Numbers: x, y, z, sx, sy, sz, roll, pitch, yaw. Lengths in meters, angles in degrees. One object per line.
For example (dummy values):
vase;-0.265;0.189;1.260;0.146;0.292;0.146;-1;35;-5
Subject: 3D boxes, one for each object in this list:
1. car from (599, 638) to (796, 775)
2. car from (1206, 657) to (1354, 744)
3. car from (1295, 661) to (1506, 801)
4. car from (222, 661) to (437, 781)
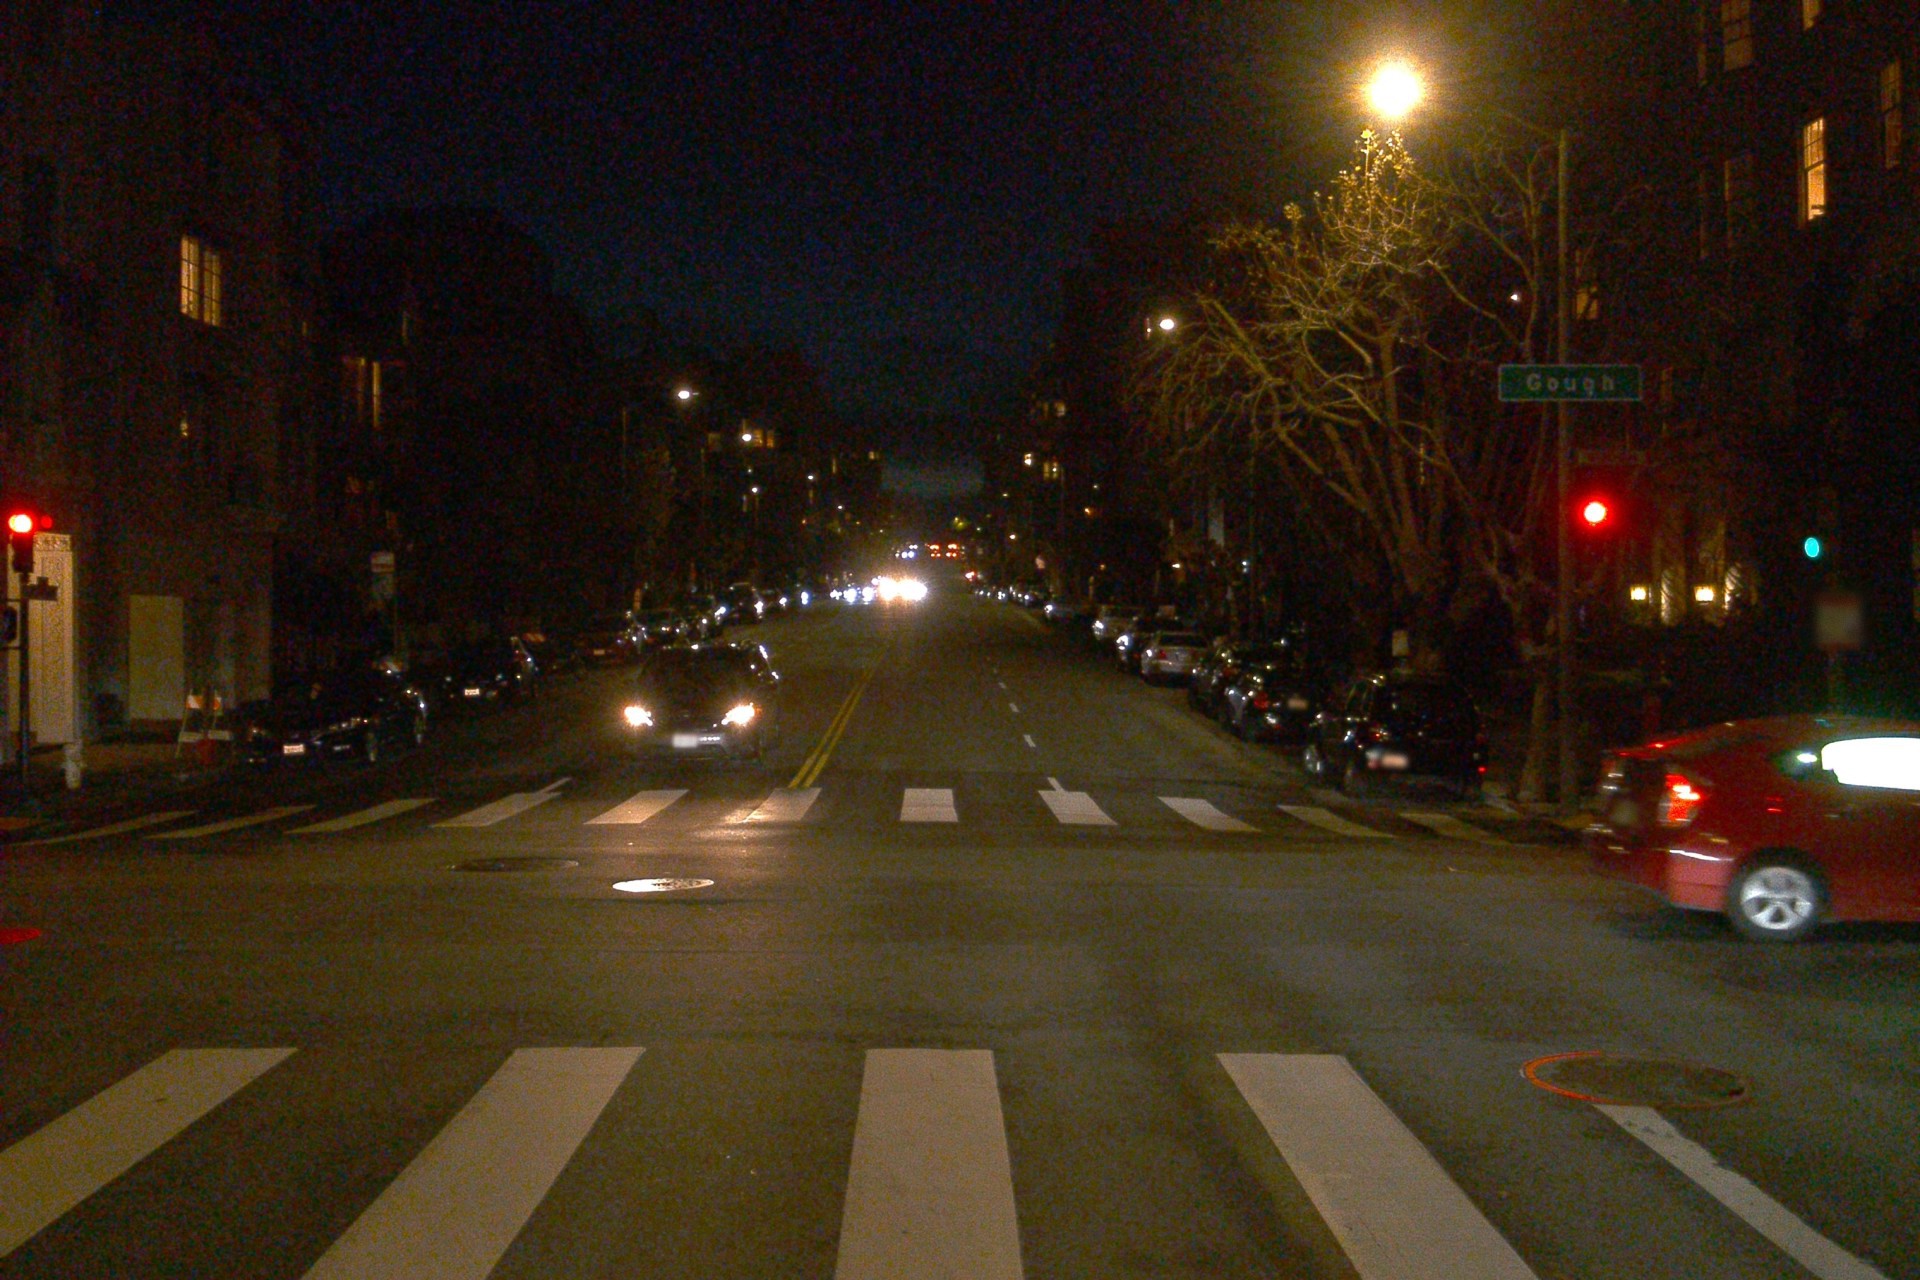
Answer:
car;-3.792;0.909;30.634;2.293;1.803;4.677;1;0;0
car;5.817;1.069;37.875;1.802;1.404;4.078;1;0;-4
car;6.082;1.214;28.887;1.802;1.714;4.078;1;0;-4
car;-10.051;1.243;33.203;2.045;1.673;4.519;1;0;0
